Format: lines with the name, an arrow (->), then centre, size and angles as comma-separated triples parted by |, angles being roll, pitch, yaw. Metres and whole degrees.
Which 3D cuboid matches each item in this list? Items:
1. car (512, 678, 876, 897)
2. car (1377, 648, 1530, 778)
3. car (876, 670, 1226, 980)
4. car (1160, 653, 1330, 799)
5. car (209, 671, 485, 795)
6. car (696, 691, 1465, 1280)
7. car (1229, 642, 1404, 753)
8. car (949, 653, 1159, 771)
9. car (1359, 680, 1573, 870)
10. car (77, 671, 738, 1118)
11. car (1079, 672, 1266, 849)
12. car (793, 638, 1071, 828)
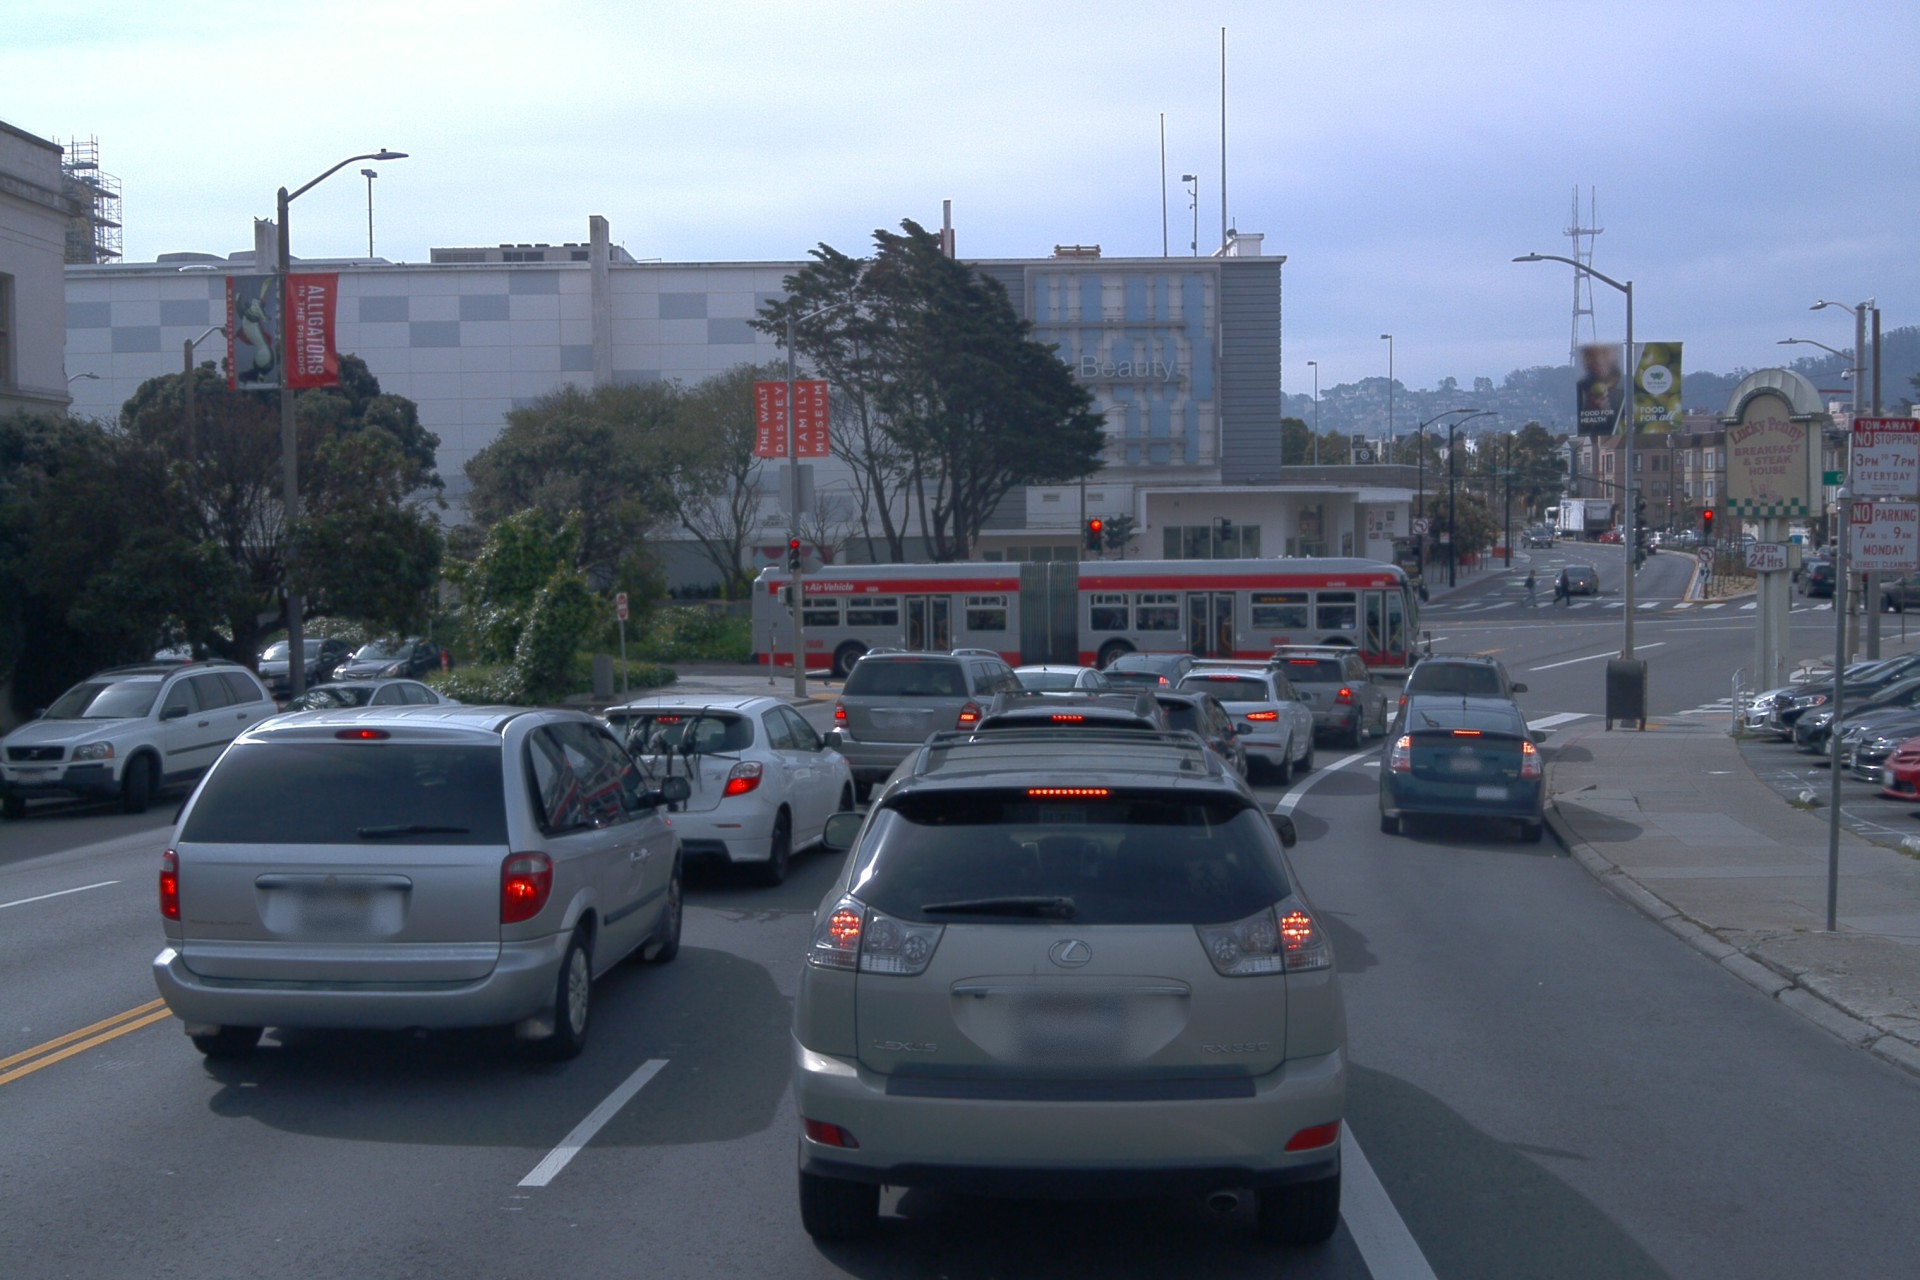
car -> -2.125, 1.150, 17.681 | 1.982, 1.530, 4.306 | 1, 0, 9
car -> 8.541, 1.169, 35.091 | 2.203, 2.020, 4.801 | 1, 0, 18
car -> 0.853, 1.209, 15.341 | 2.119, 1.870, 4.391 | 1, 0, 9
car -> 4.143, 1.148, 29.215 | 1.795, 1.880, 4.044 | 1, 0, 17
car -> -9.230, 1.346, 31.232 | 1.977, 1.640, 4.663 | 1, 0, 13
car -> 0.409, 1.168, 8.128 | 2.197, 1.780, 4.467 | 1, 0, 2
car -> 6.641, 0.983, 37.541 | 2.226, 1.850, 5.307 | 1, 0, 20
car -> 1.602, 1.075, 32.716 | 2.220, 1.670, 4.643 | 1, 0, 18
car -> 5.626, 1.417, 23.175 | 2.113, 1.790, 4.645 | 1, 0, 12
car -> -2.684, 1.142, 11.270 | 2.131, 1.830, 4.635 | 1, 0, 4
car -> 2.538, 1.308, 23.697 | 1.526, 1.780, 3.939 | 1, 0, 15
car -> -0.211, 1.038, 25.536 | 2.236, 2.100, 4.827 | 1, 0, 15
